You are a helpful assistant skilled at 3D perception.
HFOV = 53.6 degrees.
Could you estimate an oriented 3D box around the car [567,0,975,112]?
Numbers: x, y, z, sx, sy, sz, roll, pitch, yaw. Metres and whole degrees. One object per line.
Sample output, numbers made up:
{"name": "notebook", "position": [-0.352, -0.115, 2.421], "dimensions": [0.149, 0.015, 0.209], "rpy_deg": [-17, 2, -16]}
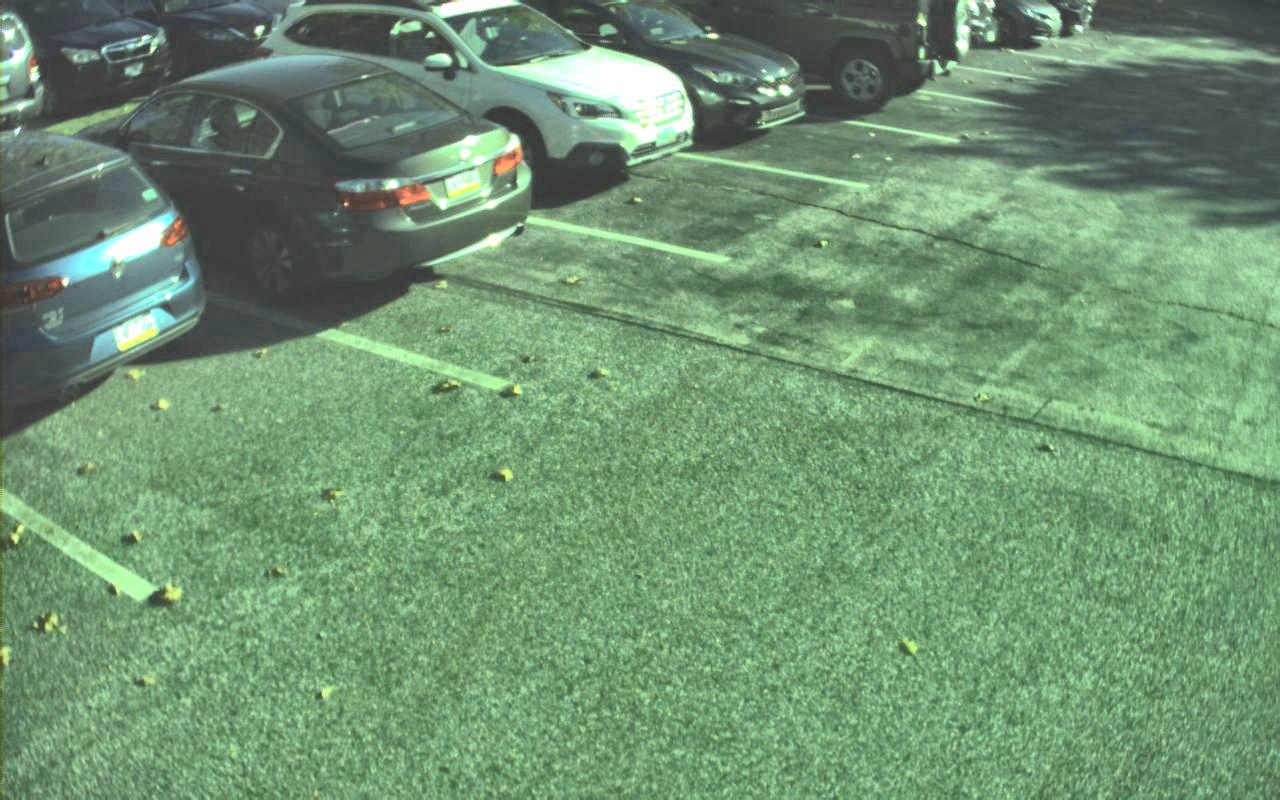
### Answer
{"name": "car", "position": [1.645, -4.659, 15.272], "dimensions": [4.722, 1.865, 2.069], "rpy_deg": [8, 19, 29]}

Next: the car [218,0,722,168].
{"name": "car", "position": [-1.790, -3.210, 11.542], "dimensions": [4.697, 1.692, 2.018], "rpy_deg": [10, 19, 32]}

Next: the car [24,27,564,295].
{"name": "car", "position": [-2.939, -1.936, 9.149], "dimensions": [4.484, 1.528, 1.938], "rpy_deg": [11, 20, 34]}

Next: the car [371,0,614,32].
{"name": "car", "position": [-2.949, -8.066, 23.474], "dimensions": [4.472, 1.638, 1.998], "rpy_deg": [9, 19, 30]}

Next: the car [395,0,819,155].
{"name": "car", "position": [-0.444, -3.637, 13.550], "dimensions": [4.391, 1.564, 1.944], "rpy_deg": [10, 20, 33]}

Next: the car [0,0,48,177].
{"name": "car", "position": [-9.327, -3.715, 12.820], "dimensions": [4.660, 1.767, 2.028], "rpy_deg": [8, 19, 28]}

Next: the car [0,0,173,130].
{"name": "car", "position": [-8.686, -4.764, 15.368], "dimensions": [4.521, 1.640, 1.992], "rpy_deg": [8, 18, 27]}

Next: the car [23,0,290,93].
{"name": "car", "position": [-7.586, -5.678, 17.434], "dimensions": [4.436, 1.589, 1.966], "rpy_deg": [8, 18, 27]}

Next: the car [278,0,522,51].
{"name": "car", "position": [-4.438, -7.198, 21.536], "dimensions": [4.420, 1.609, 1.983], "rpy_deg": [11, 20, 34]}

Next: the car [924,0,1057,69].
{"name": "car", "position": [6.669, -7.035, 22.146], "dimensions": [1.931, 1.594, 4.373], "rpy_deg": [6, 18, 23]}

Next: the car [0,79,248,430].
{"name": "car", "position": [-4.665, -1.147, 7.362], "dimensions": [4.301, 1.588, 1.927], "rpy_deg": [10, 20, 33]}
